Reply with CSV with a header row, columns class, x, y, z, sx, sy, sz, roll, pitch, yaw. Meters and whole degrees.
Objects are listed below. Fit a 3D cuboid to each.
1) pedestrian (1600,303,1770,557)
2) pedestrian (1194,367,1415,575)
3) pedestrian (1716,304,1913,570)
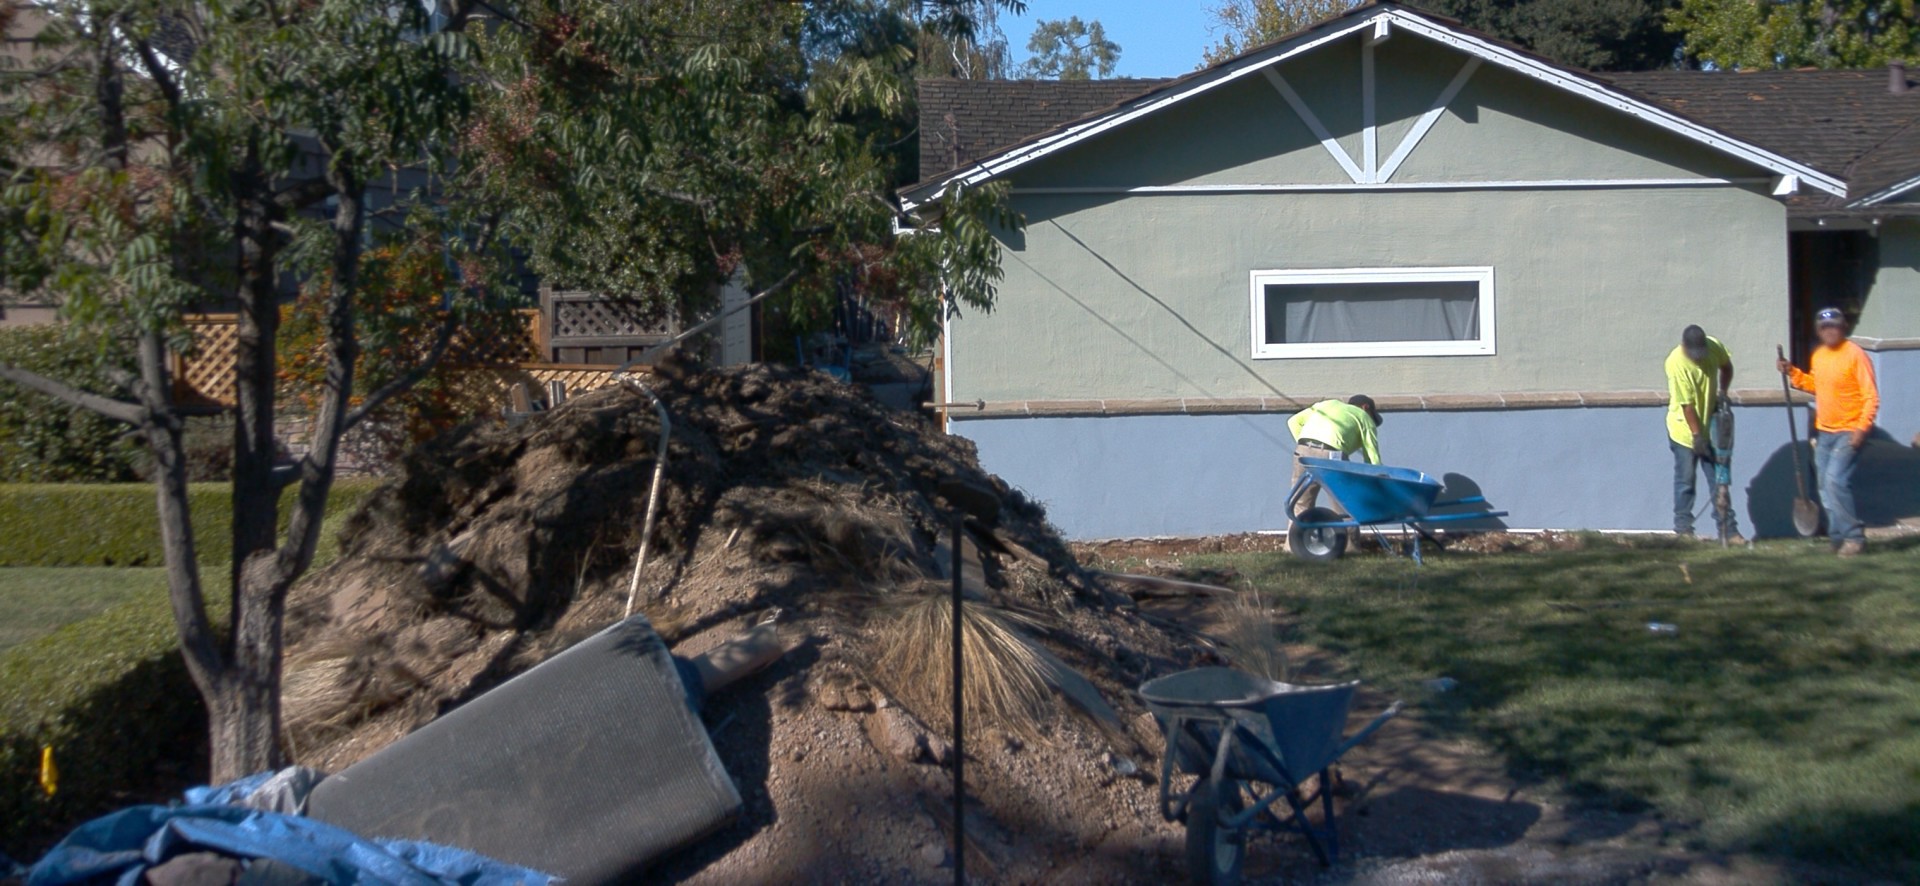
class,x,y,z,sx,sy,sz,roll,pitch,yaw
pedestrian,5.094,-0.125,14.640,0.918,1.702,0.933,0,1,3
pedestrian,2.386,0.149,14.299,1.068,1.250,1.333,1,3,32
pedestrian,5.667,-0.077,13.803,0.777,1.661,0.941,0,1,-23
